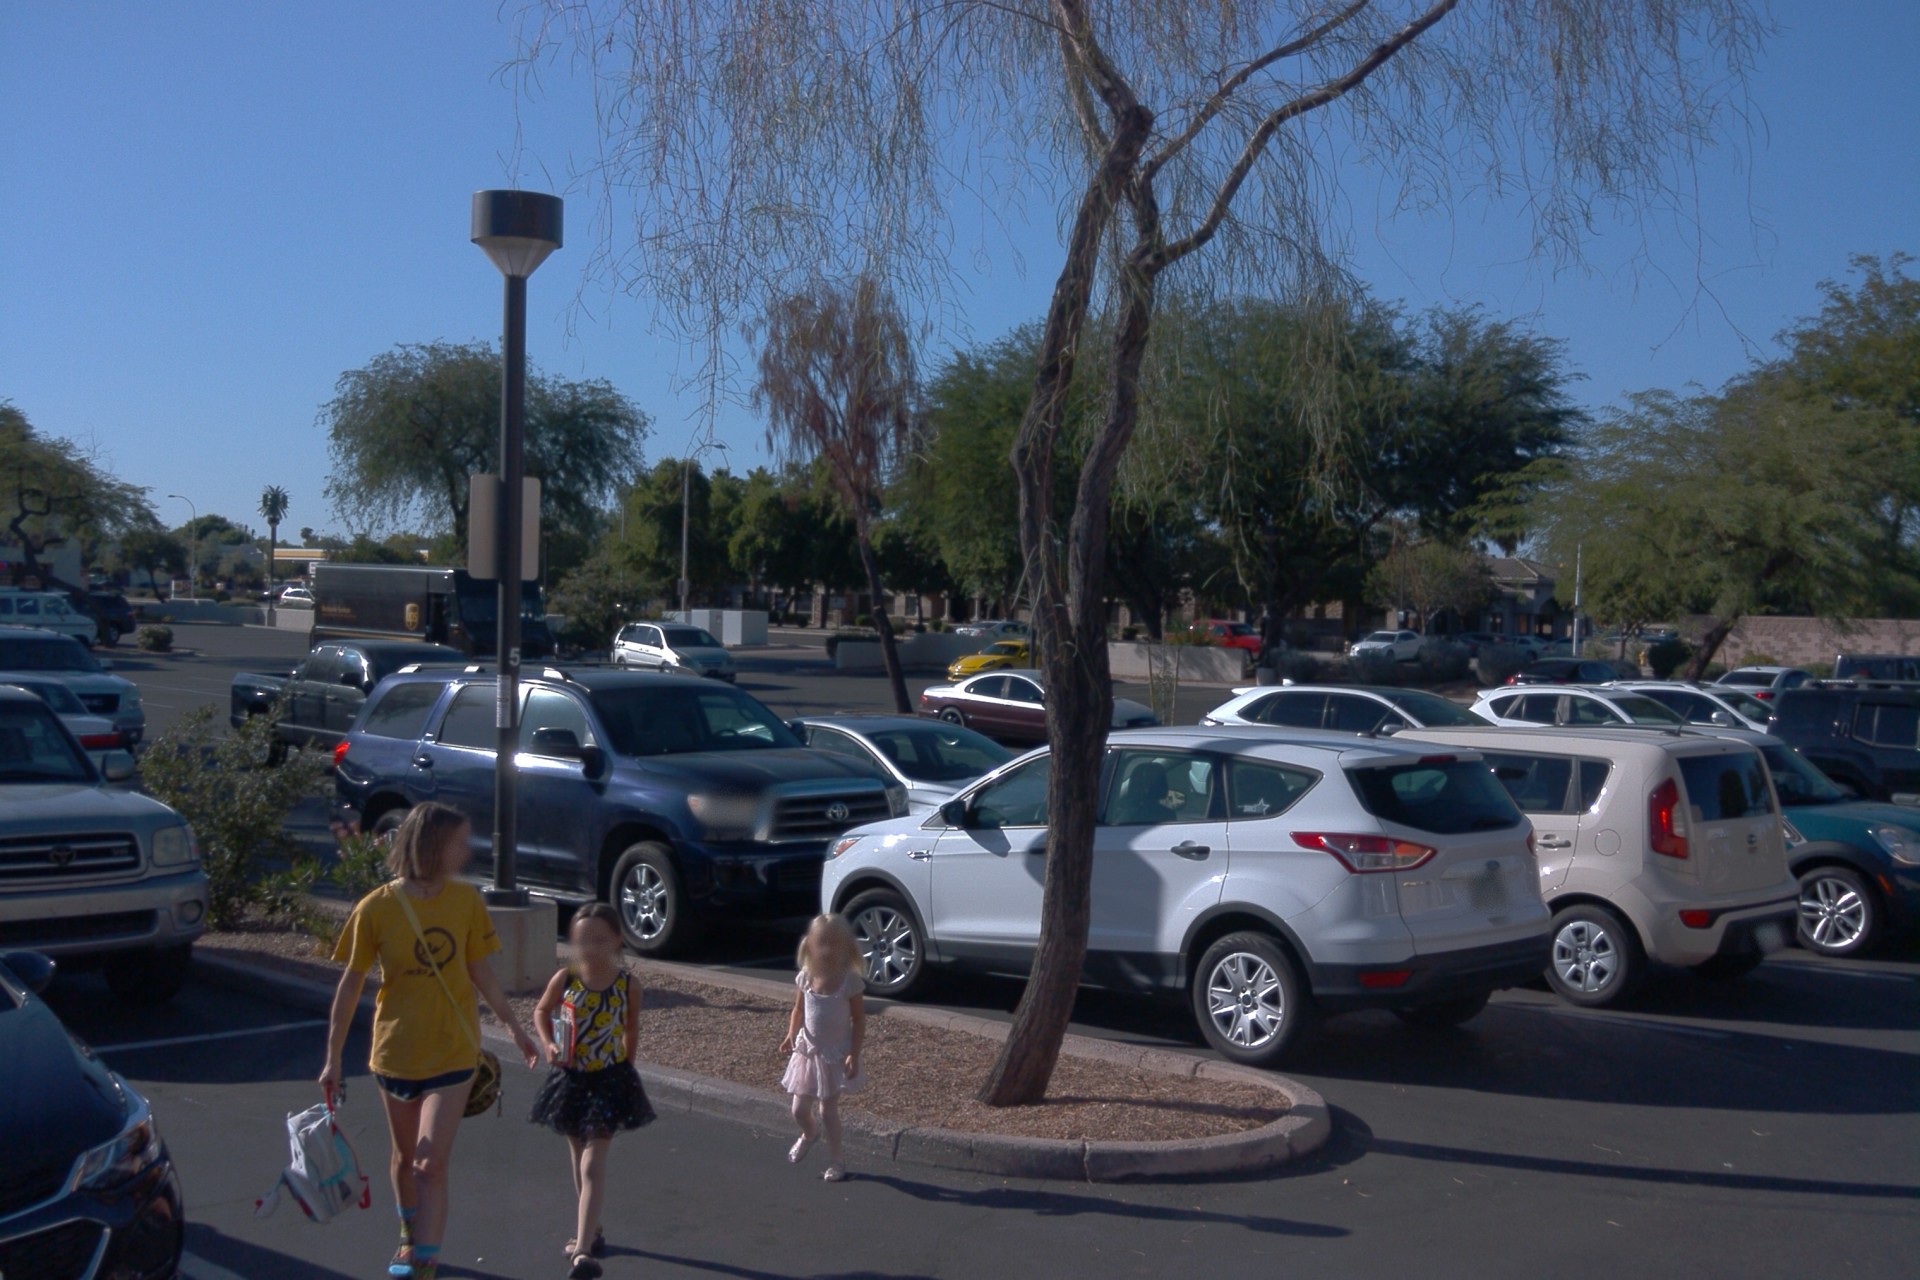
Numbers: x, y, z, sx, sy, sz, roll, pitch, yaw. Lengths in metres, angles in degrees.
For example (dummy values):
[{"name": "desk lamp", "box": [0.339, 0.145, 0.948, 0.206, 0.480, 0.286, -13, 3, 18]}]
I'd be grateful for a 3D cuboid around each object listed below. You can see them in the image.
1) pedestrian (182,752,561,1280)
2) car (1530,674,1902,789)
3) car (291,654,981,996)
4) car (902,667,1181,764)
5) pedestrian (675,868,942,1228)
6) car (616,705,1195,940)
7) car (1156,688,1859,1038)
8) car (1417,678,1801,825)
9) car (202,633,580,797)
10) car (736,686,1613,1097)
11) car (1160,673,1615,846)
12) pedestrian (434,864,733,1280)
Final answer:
[{"name": "pedestrian", "box": [-1.799, 1.275, 6.498, 0.892, 1.790, 0.961, 1, 0, -1]}, {"name": "car", "box": [10.987, 1.276, 30.370, 4.663, 1.460, 2.057, 1, 0, 44]}, {"name": "car", "box": [-2.577, 1.182, 15.621, 5.089, 2.070, 2.506, 1, 0, 43]}, {"name": "car", "box": [1.455, 1.350, 38.776, 5.046, 1.600, 2.114, 1, 0, 44]}, {"name": "pedestrian", "box": [-0.567, 1.541, 8.058, 0.826, 1.200, 0.819, 1, 0, 11]}, {"name": "car", "box": [-0.578, 1.411, 17.601, 4.717, 1.550, 2.178, 1, 0, 43]}, {"name": "car", "box": [3.476, 1.285, 13.642, 2.035, 1.840, 3.966, 1, 0, -44]}, {"name": "car", "box": [8.689, 1.427, 28.016, 4.434, 1.720, 2.160, 1, 0, 44]}, {"name": "car", "box": [-8.032, 0.946, 28.948, 5.728, 2.030, 2.534, 1, 0, 45]}, {"name": "car", "box": [1.051, 1.205, 11.875, 4.652, 1.760, 2.103, 1, 0, 43]}, {"name": "car", "box": [4.882, 1.283, 24.095, 4.659, 1.720, 2.253, 1, 0, 43]}, {"name": "pedestrian", "box": [-1.238, 1.432, 6.987, 0.828, 1.260, 0.818, 1, 0, 1]}]
